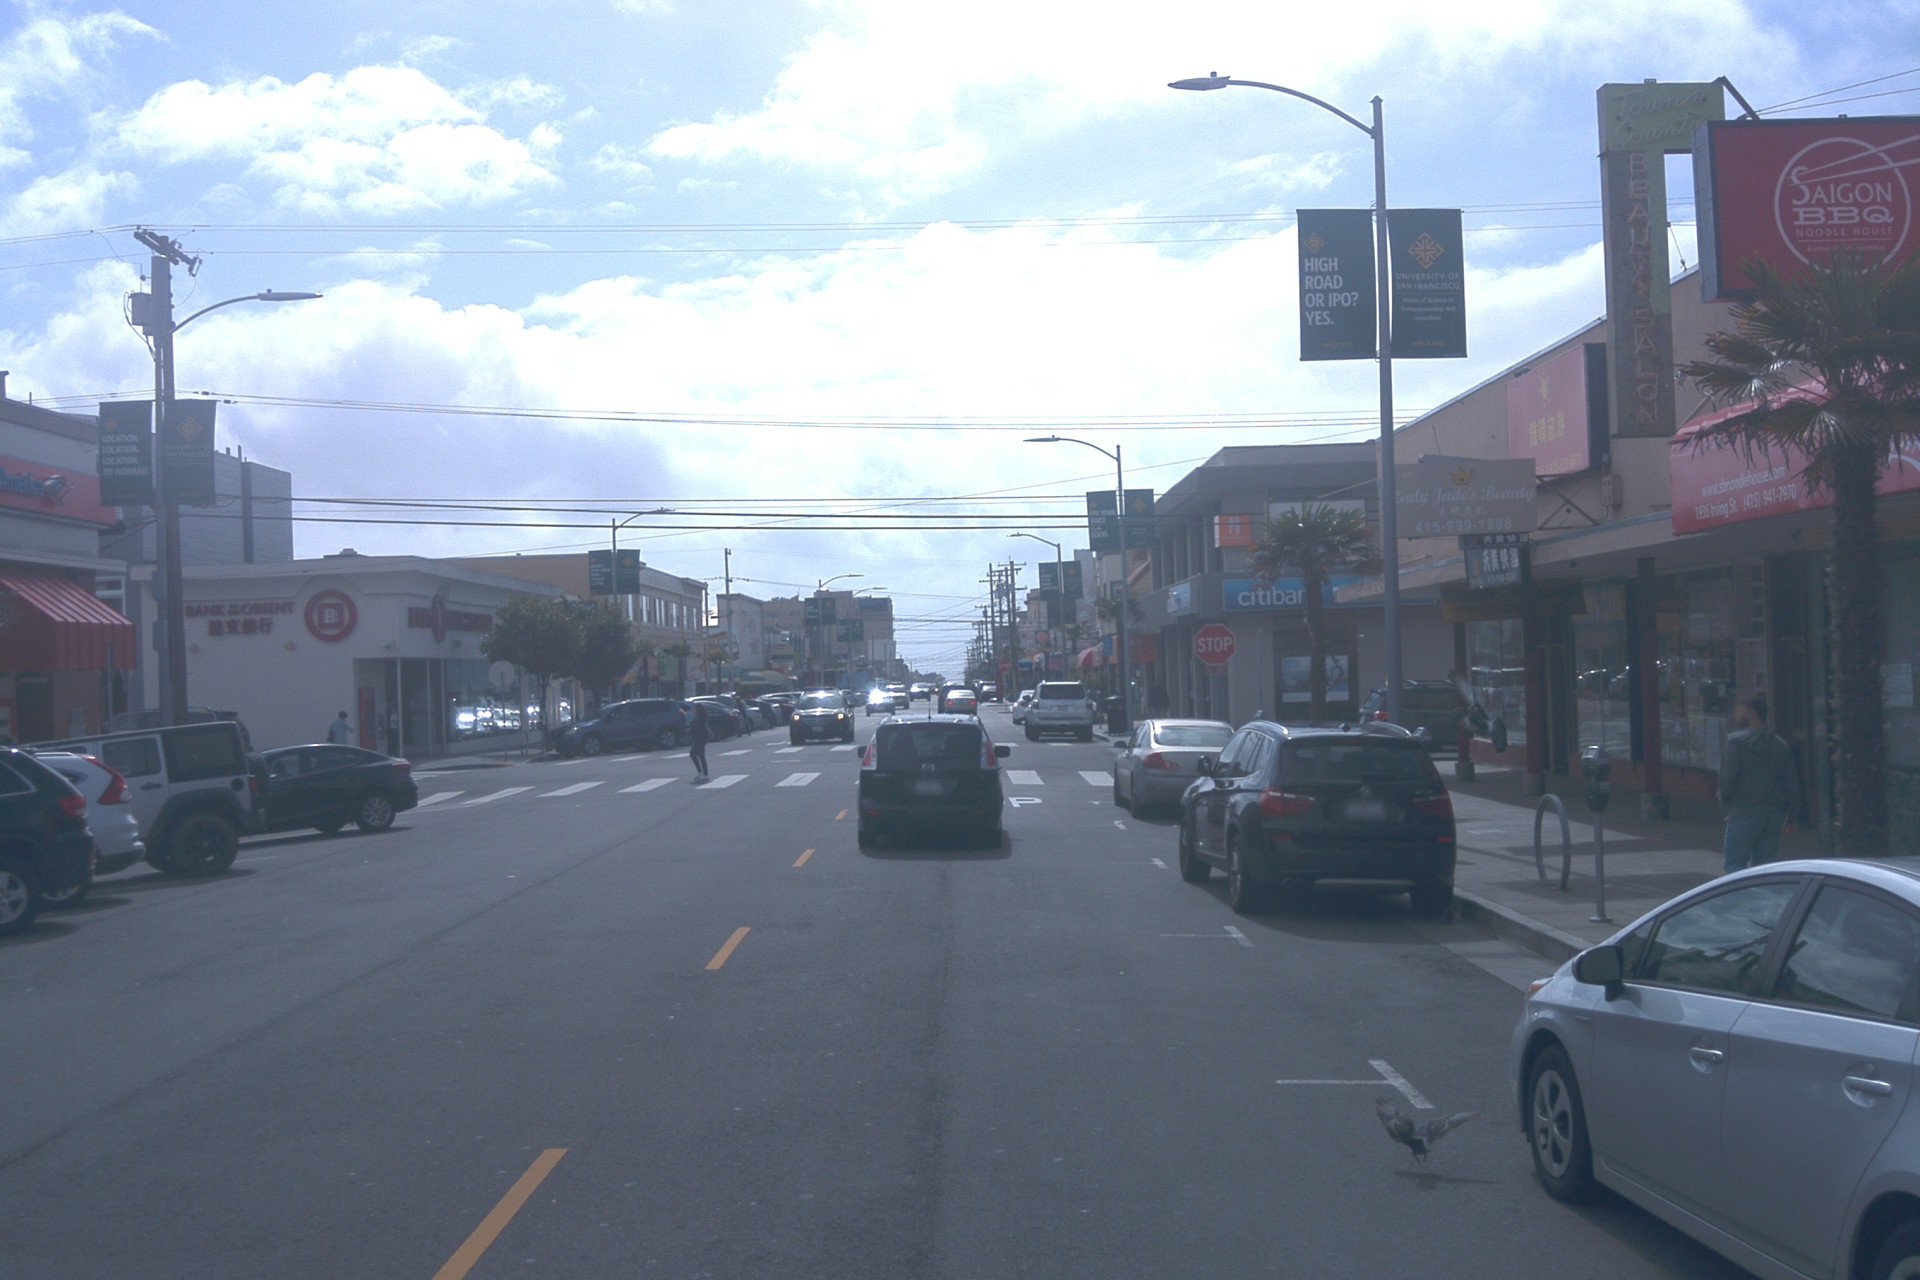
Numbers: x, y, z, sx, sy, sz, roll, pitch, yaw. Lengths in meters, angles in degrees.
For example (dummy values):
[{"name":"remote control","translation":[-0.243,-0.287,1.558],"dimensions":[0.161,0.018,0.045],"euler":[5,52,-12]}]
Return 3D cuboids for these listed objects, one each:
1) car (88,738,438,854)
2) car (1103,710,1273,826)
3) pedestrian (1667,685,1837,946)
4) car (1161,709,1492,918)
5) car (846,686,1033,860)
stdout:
[{"name":"car","translation":[-10.460,2.291,31.334],"dimensions":[4.590,1.478,2.019],"euler":[1,-1,-43]},{"name":"car","translation":[3.373,1.881,31.520],"dimensions":[1.988,1.532,4.724],"euler":[0,-1,-1]},{"name":"pedestrian","translation":[5.616,1.218,14.755],"dimensions":[0.773,1.778,0.988],"euler":[0,-1,-4]},{"name":"car","translation":[3.249,1.506,19.439],"dimensions":[2.061,1.620,4.747],"euler":[0,-1,-3]},{"name":"car","translation":[-0.160,1.597,26.341],"dimensions":[2.096,1.972,4.571],"euler":[0,-1,3]}]
